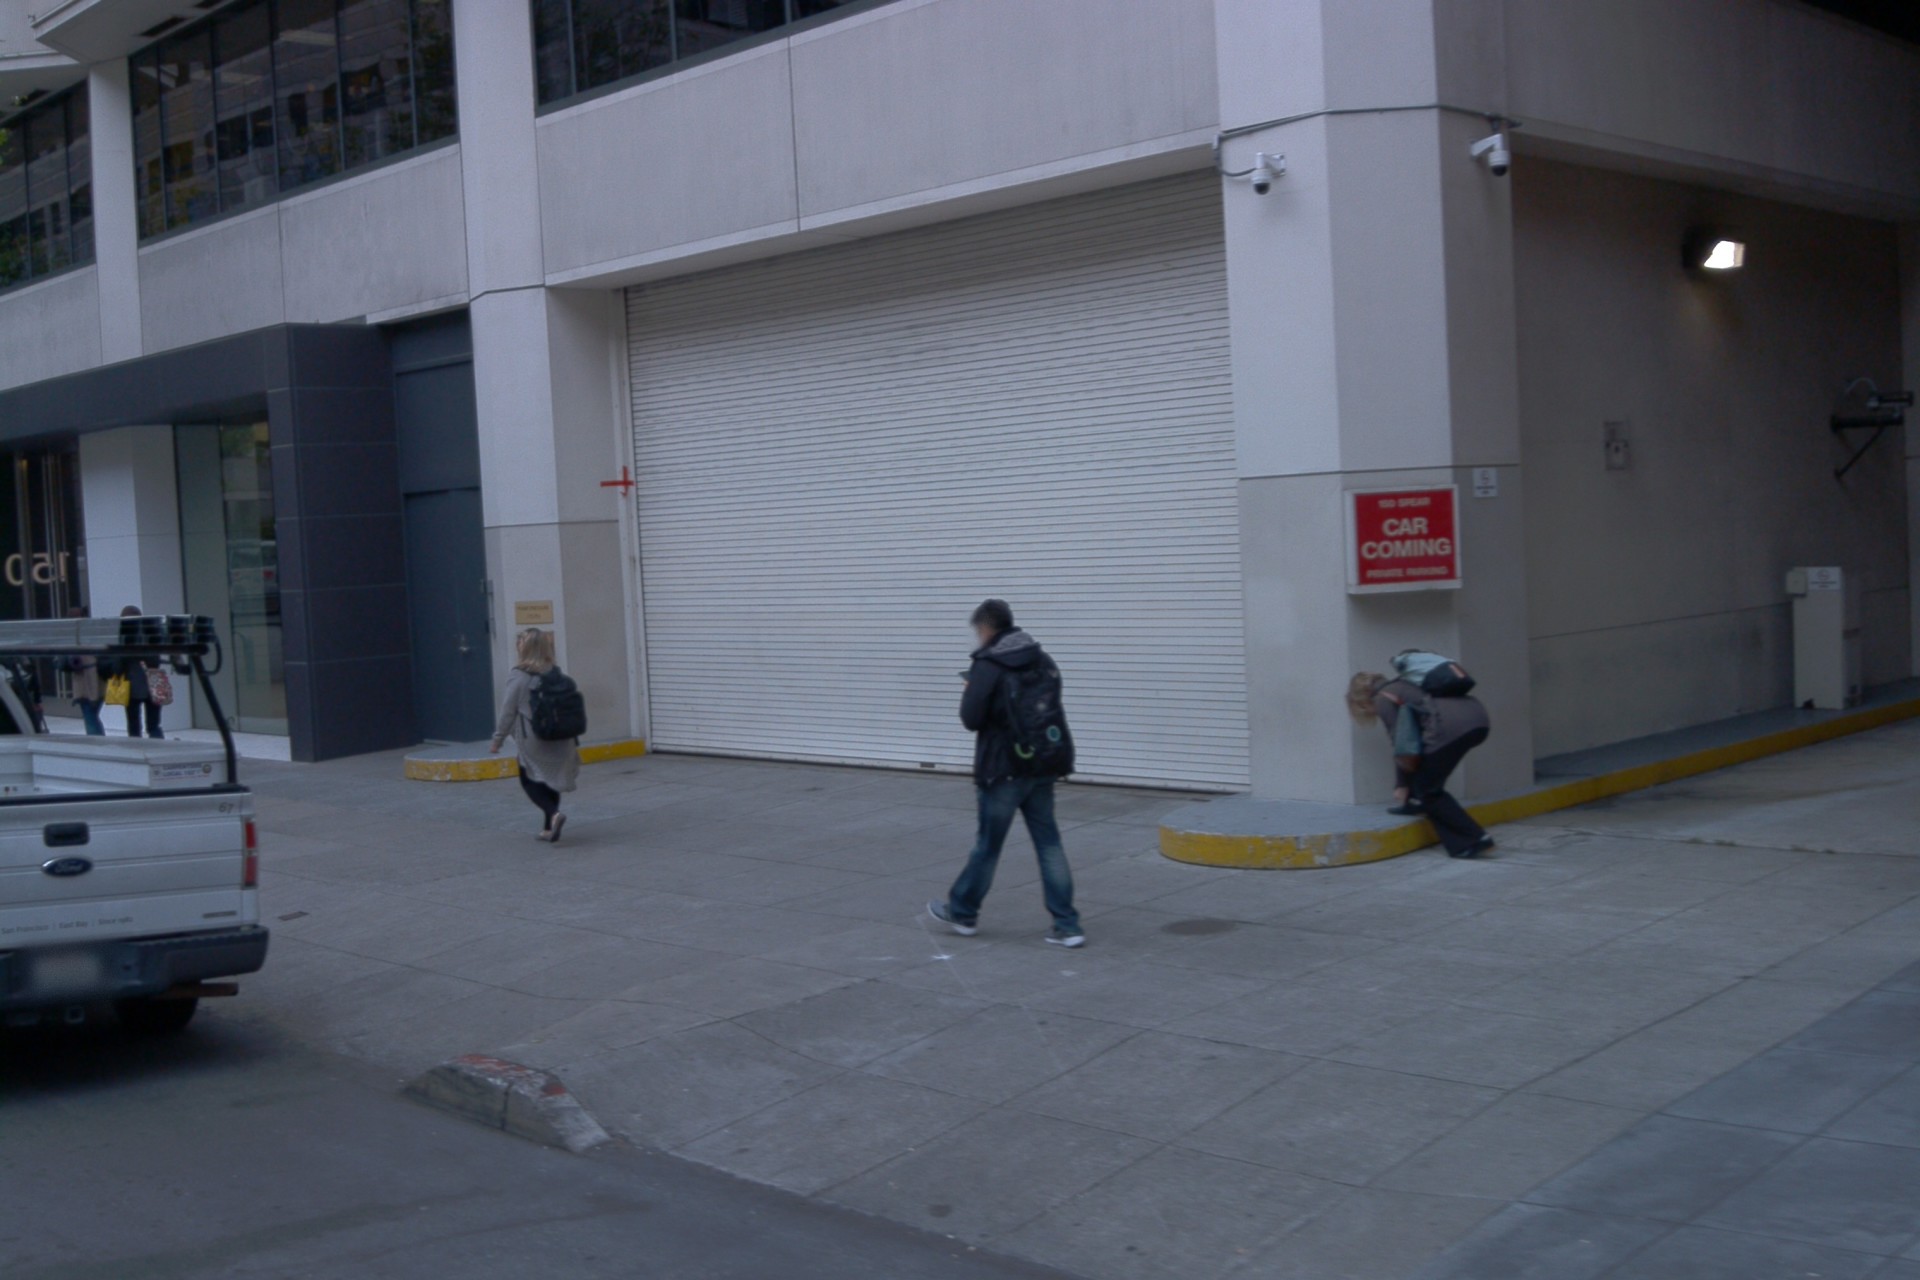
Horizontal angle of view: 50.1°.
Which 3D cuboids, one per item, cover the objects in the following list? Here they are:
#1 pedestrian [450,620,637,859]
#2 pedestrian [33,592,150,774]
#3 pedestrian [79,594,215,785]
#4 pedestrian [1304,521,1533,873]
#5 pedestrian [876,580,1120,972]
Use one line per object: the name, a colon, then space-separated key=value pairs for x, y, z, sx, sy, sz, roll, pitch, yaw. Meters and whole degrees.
pedestrian: x=-2.924 y=0.663 z=14.425 sx=0.882 sy=1.600 sz=0.985 roll=0 pitch=0 yaw=-44
pedestrian: x=-8.952 y=0.426 z=21.189 sx=0.828 sy=1.826 sz=0.918 roll=0 pitch=0 yaw=-44
pedestrian: x=-7.792 y=0.456 z=19.707 sx=0.939 sy=1.770 sz=0.919 roll=0 pitch=0 yaw=-42
pedestrian: x=2.558 y=0.293 z=11.465 sx=0.887 sy=1.850 sz=0.927 roll=0 pitch=0 yaw=45
pedestrian: x=0.183 y=0.628 z=10.193 sx=0.736 sy=1.830 sz=0.968 roll=0 pitch=0 yaw=-42
